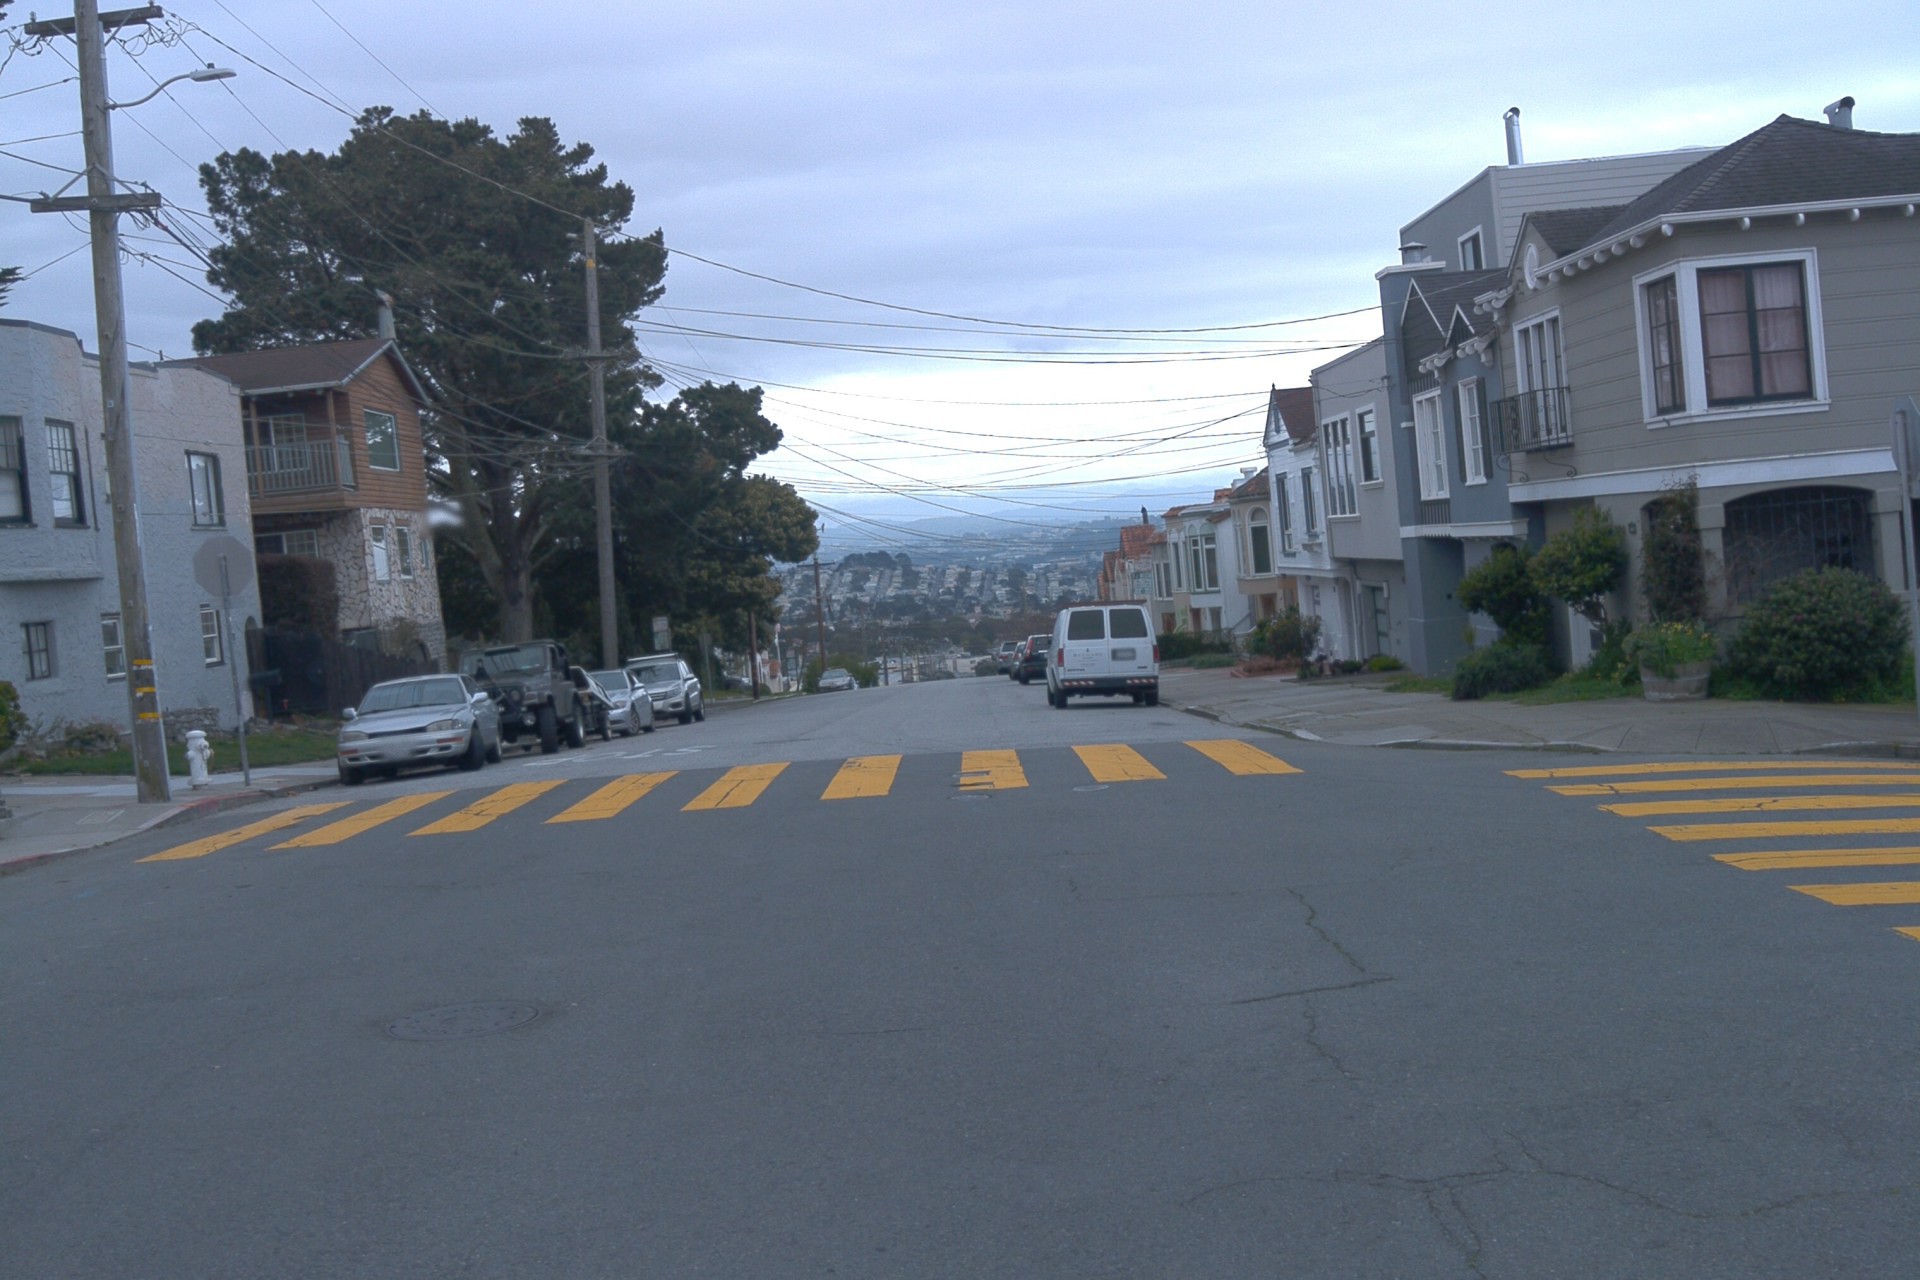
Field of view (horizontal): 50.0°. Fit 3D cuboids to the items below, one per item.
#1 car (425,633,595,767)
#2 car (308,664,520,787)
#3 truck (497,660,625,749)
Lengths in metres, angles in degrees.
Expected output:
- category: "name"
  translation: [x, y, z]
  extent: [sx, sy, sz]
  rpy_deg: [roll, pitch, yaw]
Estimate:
- category: "car"
  translation: [-7.193, 0.911, 33.360]
  extent: [1.997, 2.030, 4.192]
  rpy_deg: [0, 0, -3]
- category: "car"
  translation: [-7.457, 1.115, 28.631]
  extent: [2.100, 1.500, 4.826]
  rpy_deg: [0, 0, -6]
- category: "truck"
  translation: [-7.143, 1.123, 37.126]
  extent: [1.696, 1.510, 2.984]
  rpy_deg: [0, 0, 1]
